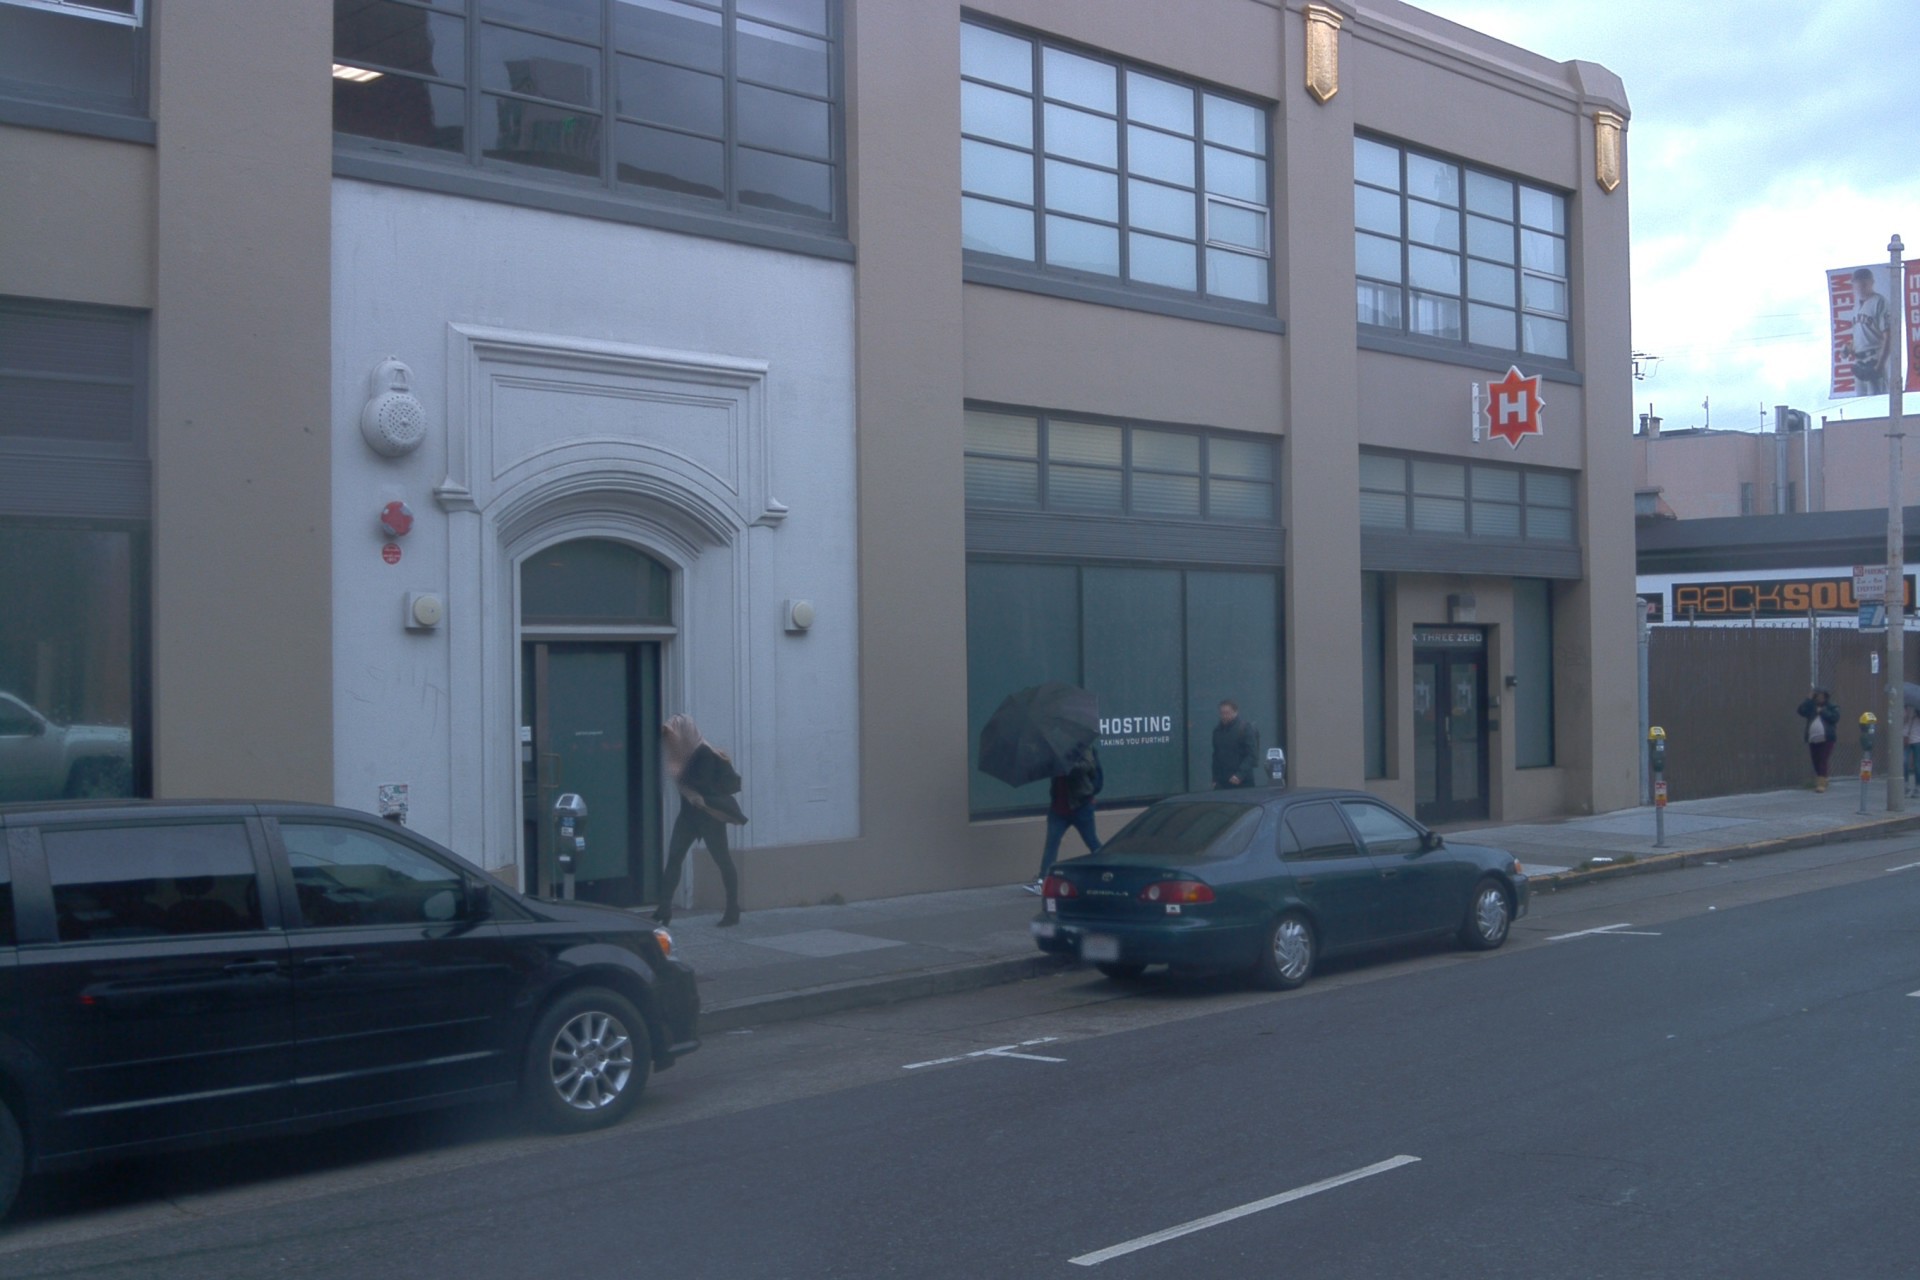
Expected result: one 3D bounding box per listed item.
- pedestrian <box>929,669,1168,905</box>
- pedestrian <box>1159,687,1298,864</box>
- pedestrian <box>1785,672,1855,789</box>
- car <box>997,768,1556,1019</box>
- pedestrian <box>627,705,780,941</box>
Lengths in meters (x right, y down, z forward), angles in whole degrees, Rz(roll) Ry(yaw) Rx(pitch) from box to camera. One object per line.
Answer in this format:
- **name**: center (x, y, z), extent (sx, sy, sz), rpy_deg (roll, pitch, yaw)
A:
- **pedestrian**: center (0.790, 1.251, 18.506), extent (1.495, 1.950, 1.513), rpy_deg (0, 0, 42)
- **pedestrian**: center (2.732, 1.345, 21.150), extent (1.083, 1.708, 0.924), rpy_deg (0, 0, -45)
- **pedestrian**: center (12.837, 1.332, 31.030), extent (0.741, 1.700, 0.777), rpy_deg (0, 0, 42)
- **car**: center (2.446, 1.735, 15.301), extent (4.350, 1.328, 1.799), rpy_deg (0, 0, -44)
- **pedestrian**: center (-2.006, 1.399, 16.276), extent (0.852, 1.740, 0.841), rpy_deg (0, 0, -45)
